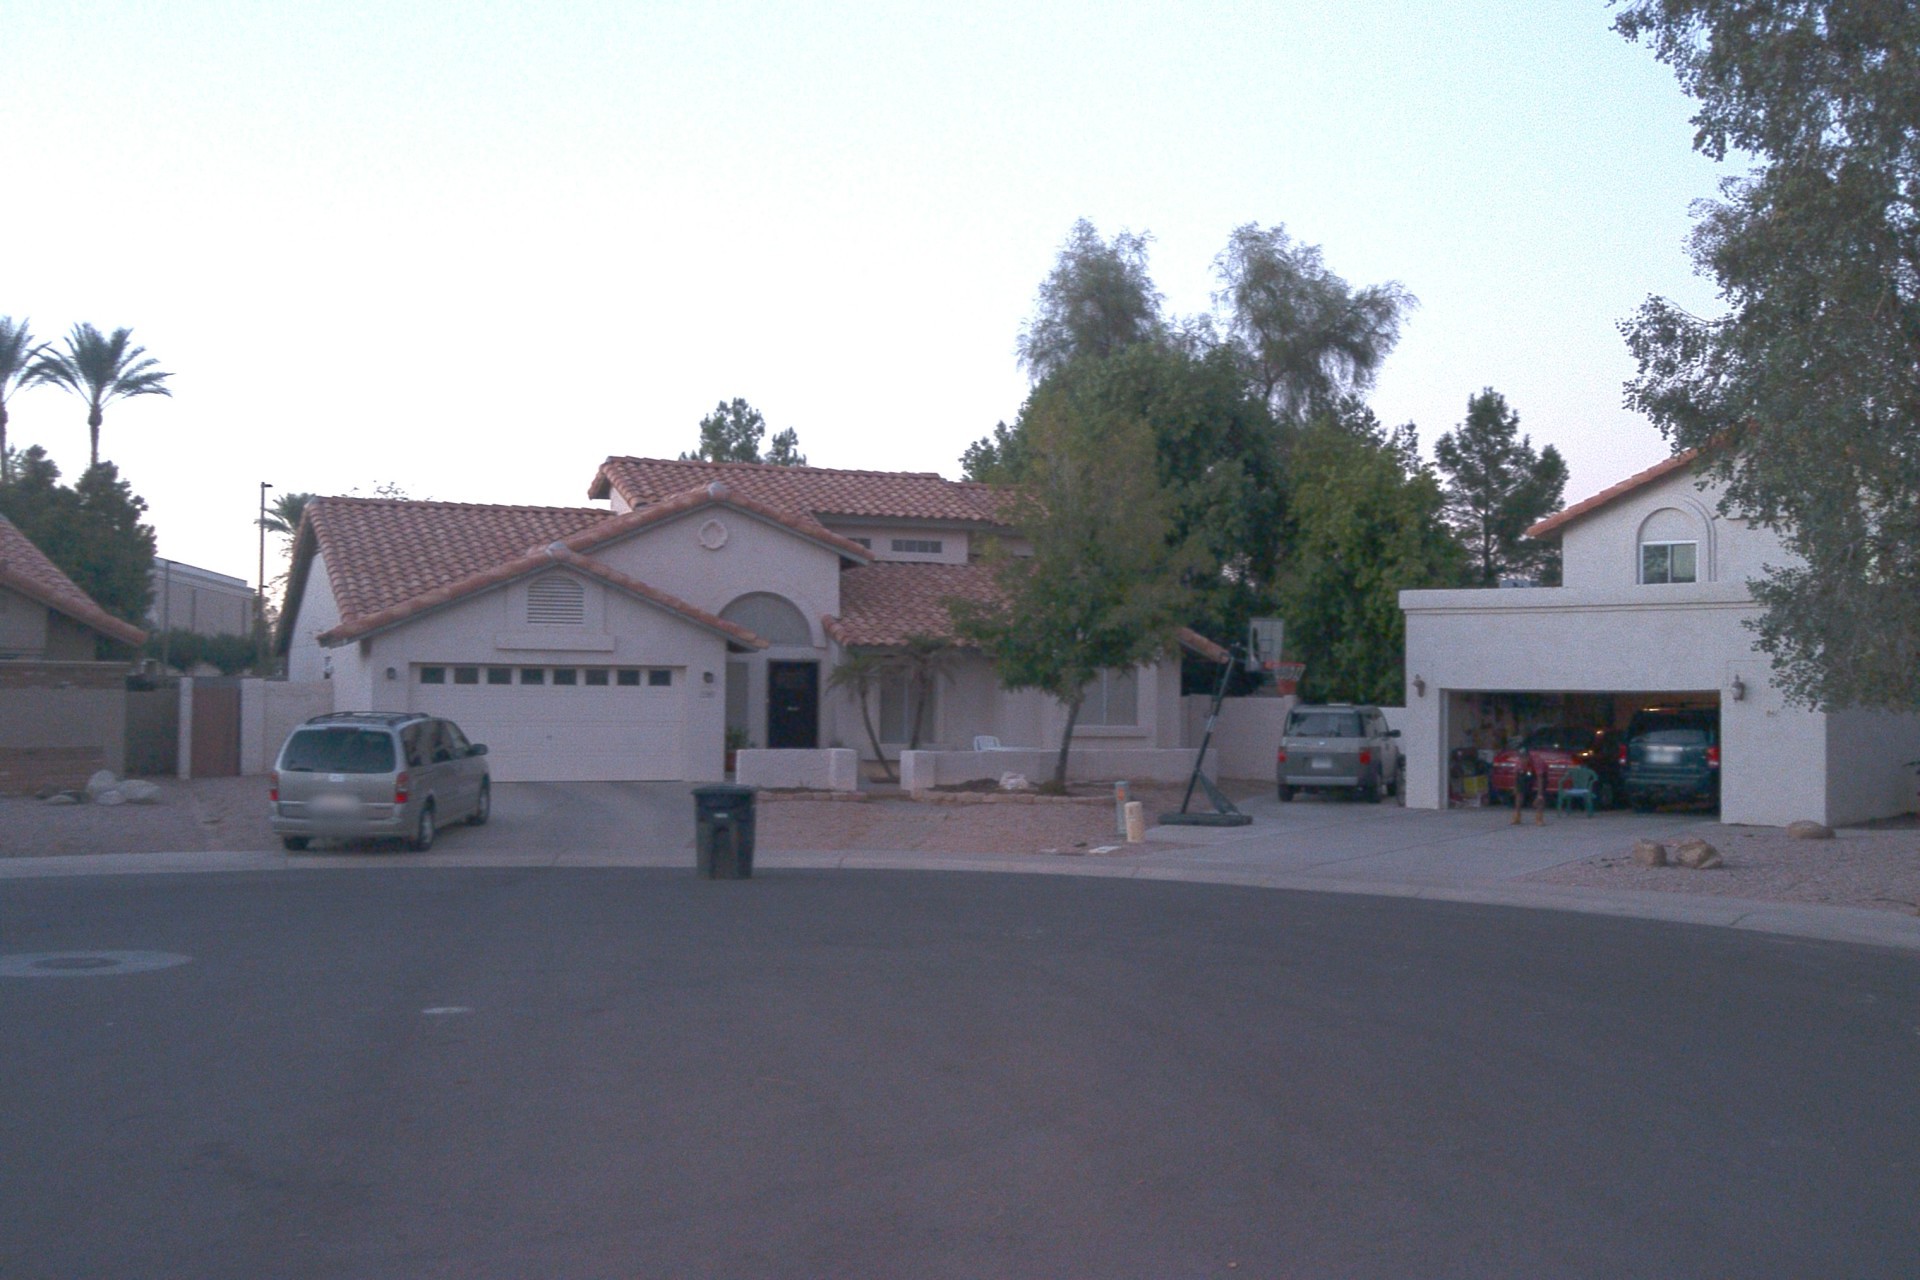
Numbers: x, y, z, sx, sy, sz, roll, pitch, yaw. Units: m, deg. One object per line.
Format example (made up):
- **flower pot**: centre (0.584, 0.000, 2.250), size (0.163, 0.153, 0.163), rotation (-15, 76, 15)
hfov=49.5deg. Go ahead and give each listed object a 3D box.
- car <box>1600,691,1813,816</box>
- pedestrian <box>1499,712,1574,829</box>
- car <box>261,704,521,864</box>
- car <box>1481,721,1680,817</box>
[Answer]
- **car**: centre (12.669, 1.893, 35.206), size (1.951, 1.960, 3.935), rotation (0, -2, 44)
- **pedestrian**: centre (8.950, 2.004, 32.302), size (0.979, 1.750, 0.981), rotation (0, -2, 24)
- **car**: centre (-7.628, 1.876, 28.493), size (2.086, 1.940, 4.992), rotation (1, -2, 1)
- **car**: centre (10.914, 2.224, 36.502), size (1.794, 1.540, 3.848), rotation (0, -2, 43)
